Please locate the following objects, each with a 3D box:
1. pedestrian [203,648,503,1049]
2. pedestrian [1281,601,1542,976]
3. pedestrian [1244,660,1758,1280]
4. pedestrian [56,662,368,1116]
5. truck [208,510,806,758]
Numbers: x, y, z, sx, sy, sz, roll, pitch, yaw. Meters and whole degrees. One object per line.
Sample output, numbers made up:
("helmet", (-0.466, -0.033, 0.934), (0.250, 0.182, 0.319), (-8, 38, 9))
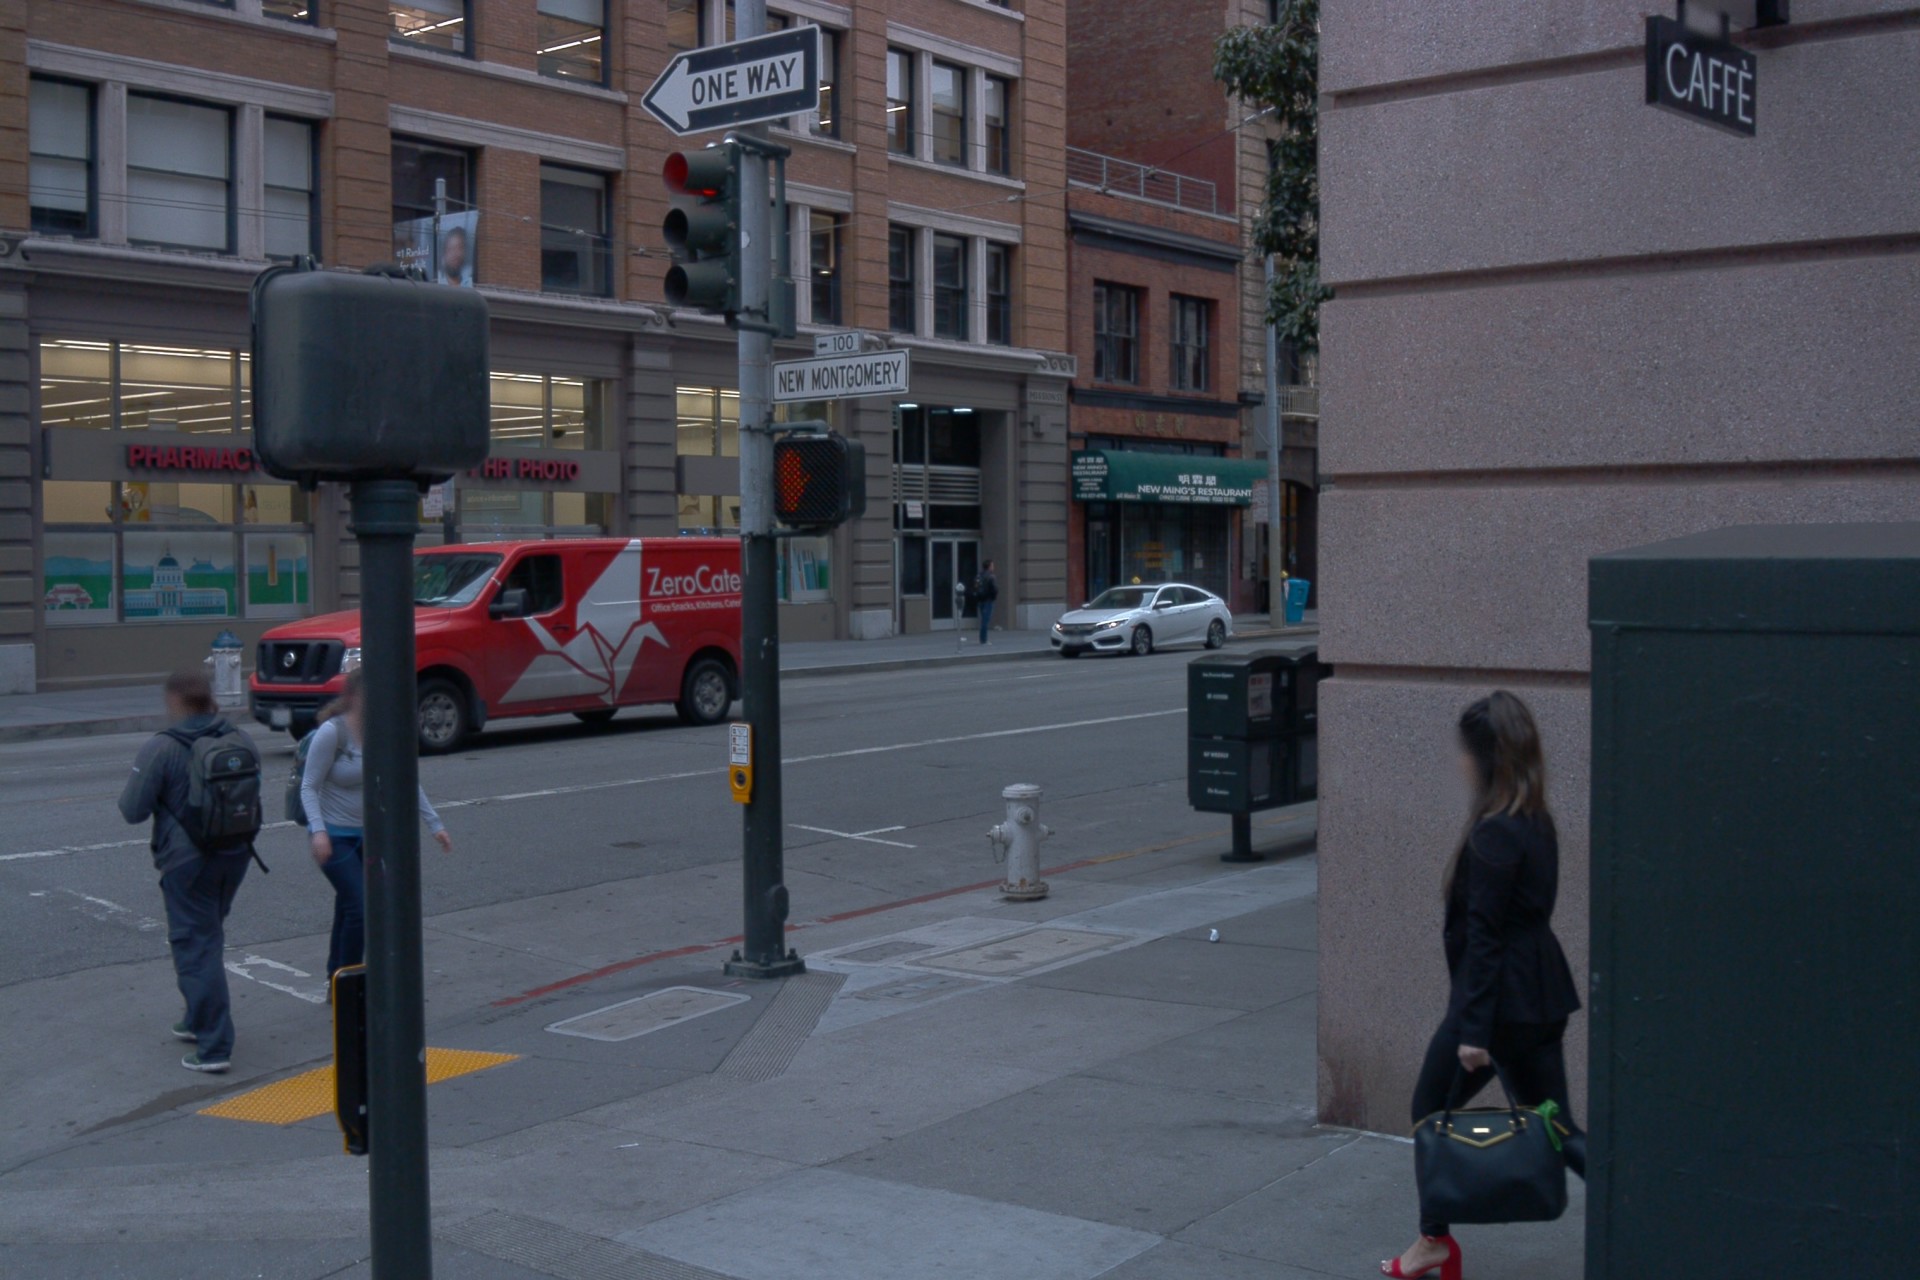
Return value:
("pedestrian", (-2.905, 0.932, 9.893), (1.086, 1.765, 0.922), (0, 1, 39))
("pedestrian", (2.394, 0.730, 10.927), (1.120, 1.860, 0.858), (-1, 1, -43))
("pedestrian", (1.403, 0.919, 5.347), (1.093, 1.710, 0.782), (0, 1, 33))
("pedestrian", (-3.253, 1.010, 8.973), (1.155, 1.800, 0.781), (0, 1, 39))
("truck", (-4.532, -0.081, 21.784), (2.356, 2.240, 6.072), (0, 1, 37))
